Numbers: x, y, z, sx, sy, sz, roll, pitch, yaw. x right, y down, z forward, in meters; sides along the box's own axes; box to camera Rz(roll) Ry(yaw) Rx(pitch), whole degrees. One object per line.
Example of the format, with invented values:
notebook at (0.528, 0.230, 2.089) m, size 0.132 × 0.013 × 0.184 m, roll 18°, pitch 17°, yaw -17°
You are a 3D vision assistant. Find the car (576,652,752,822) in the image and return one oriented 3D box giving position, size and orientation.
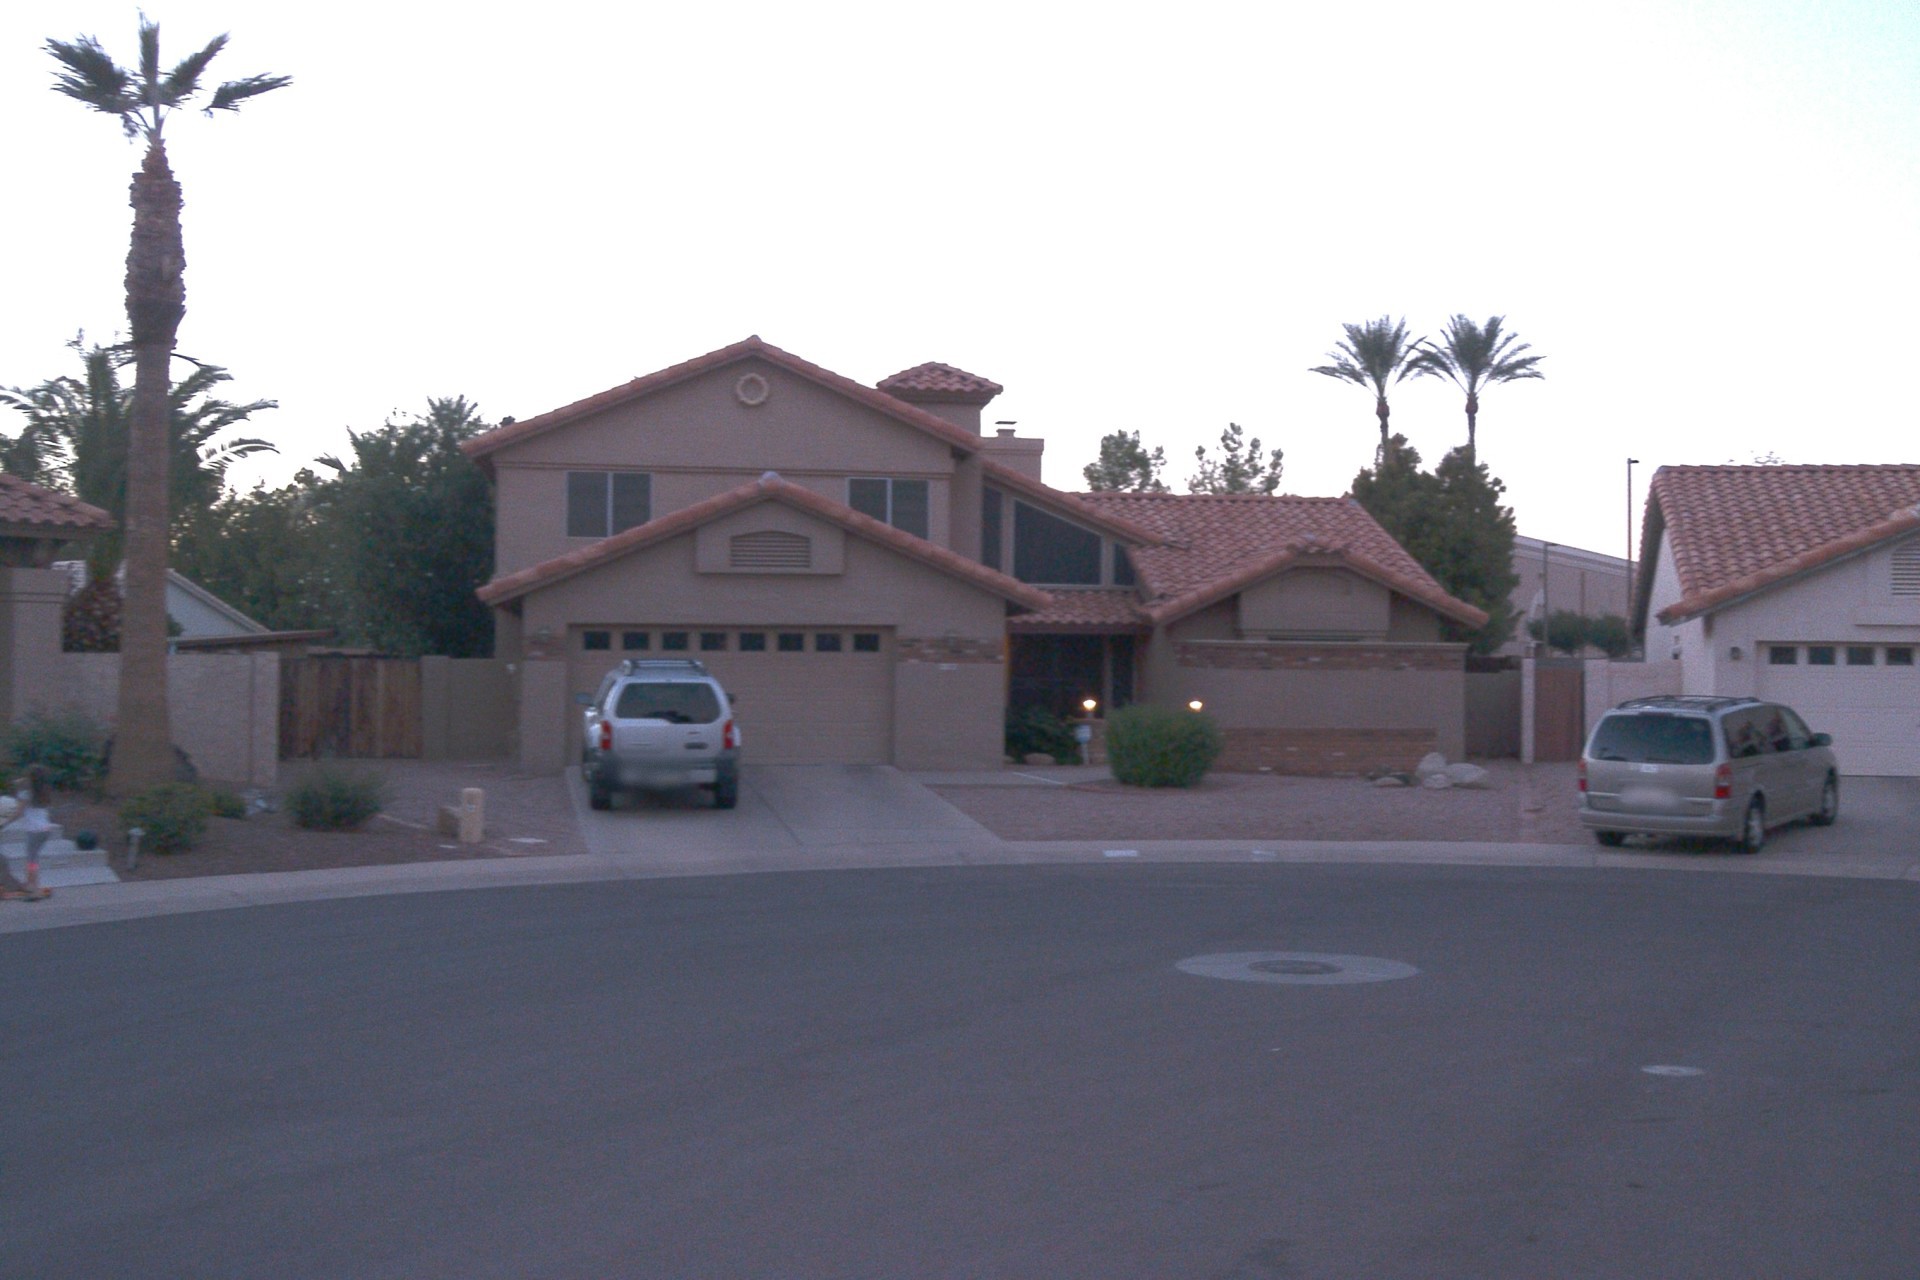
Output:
car at (-4.059, 1.212, 27.826) m, size 2.116 × 2.070 × 4.663 m, roll 1°, pitch -1°, yaw -11°

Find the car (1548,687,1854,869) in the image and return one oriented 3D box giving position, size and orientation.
car at (9.171, 1.578, 25.382) m, size 2.065 × 1.940 × 5.043 m, roll 0°, pitch -1°, yaw 37°
